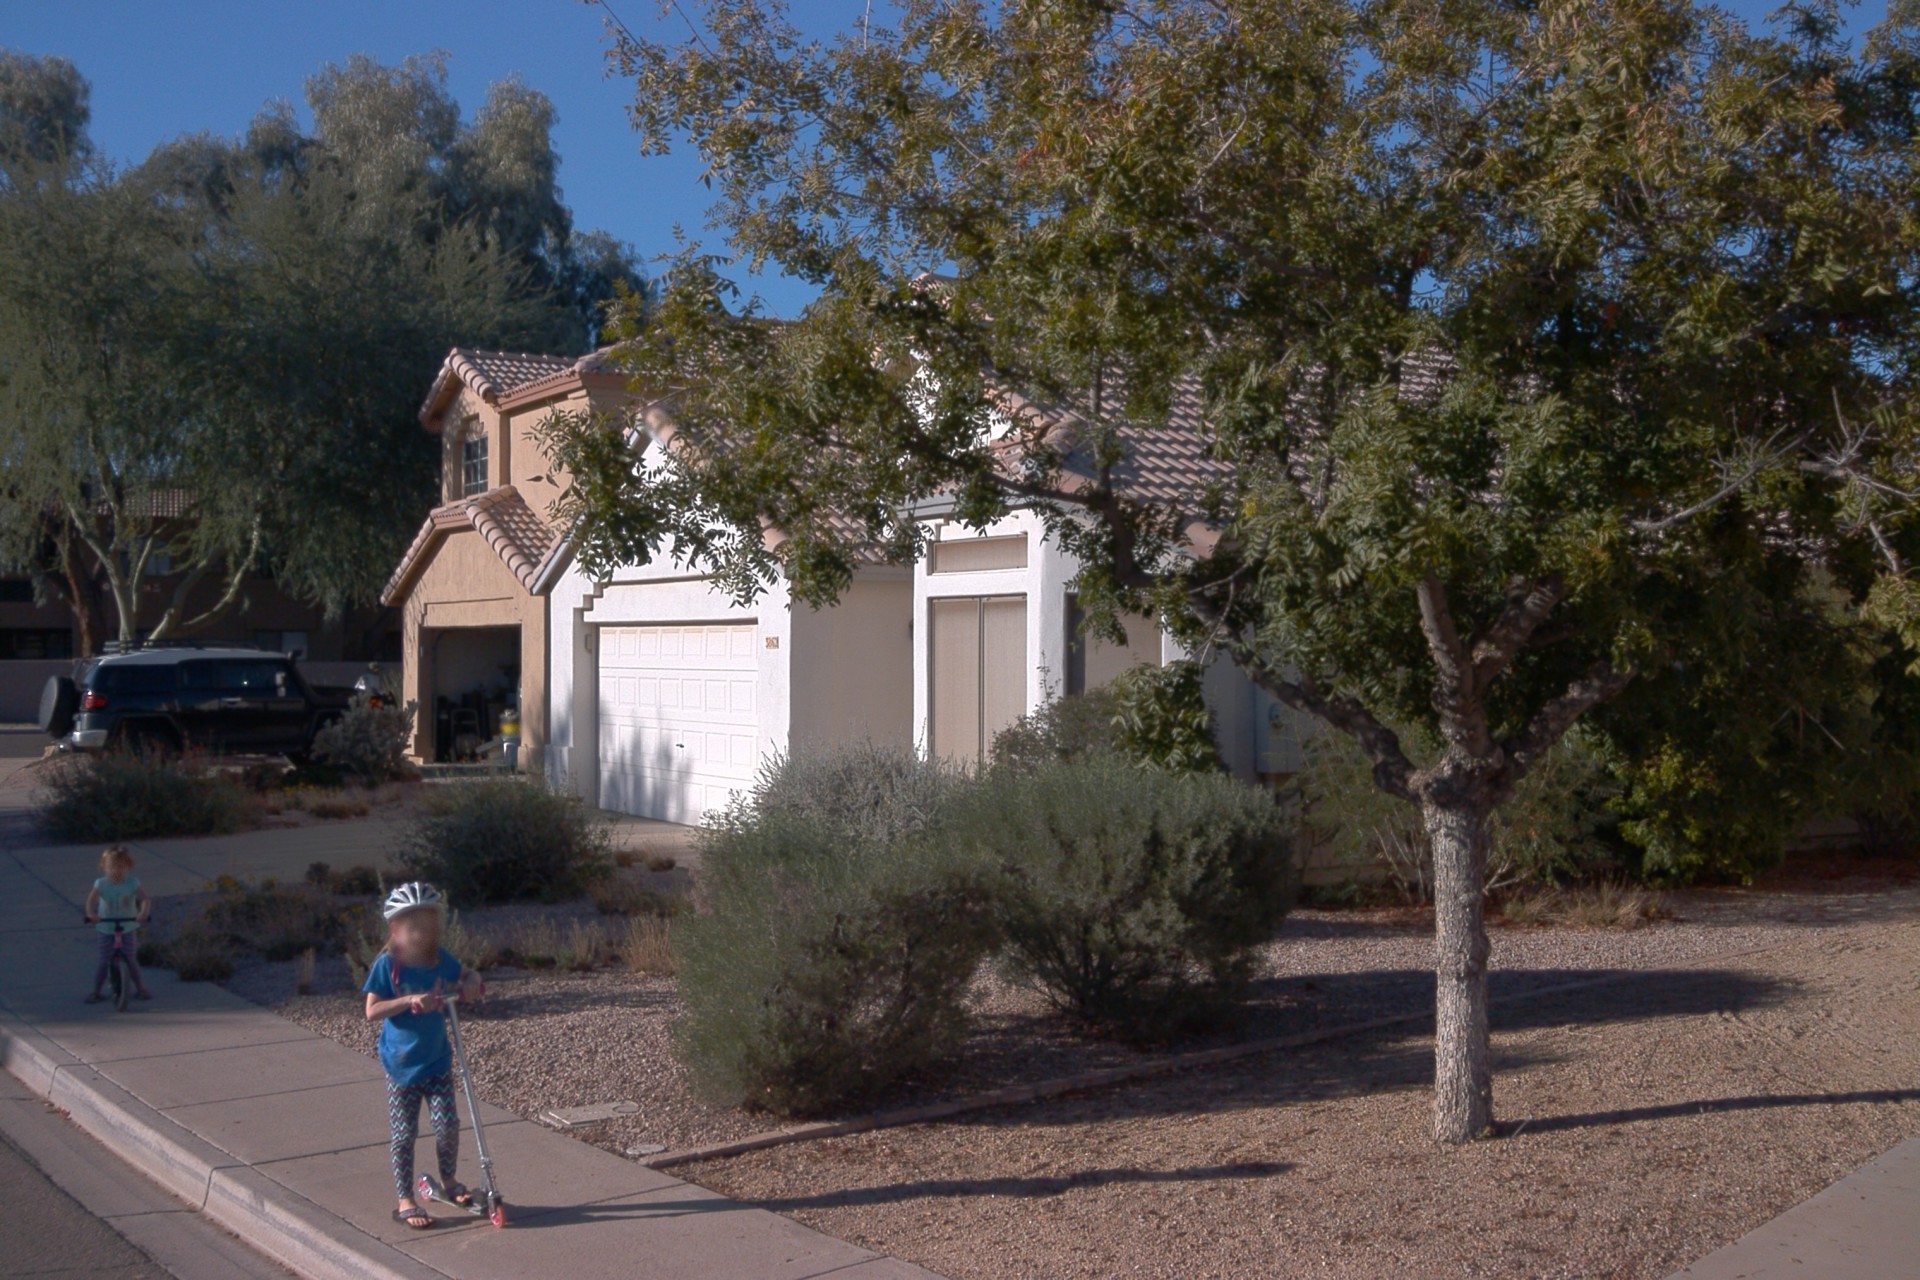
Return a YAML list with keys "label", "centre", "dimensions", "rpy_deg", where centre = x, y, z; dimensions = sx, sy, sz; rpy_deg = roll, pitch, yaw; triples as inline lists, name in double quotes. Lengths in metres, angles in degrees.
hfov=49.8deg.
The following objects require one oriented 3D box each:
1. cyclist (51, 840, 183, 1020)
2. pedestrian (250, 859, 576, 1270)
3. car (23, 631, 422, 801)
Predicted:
- label: "cyclist"
  centre: [-4.777, 1.618, 11.708]
  dimensions: [0.527, 0.890, 0.831]
  rpy_deg: [1, -1, -33]
- label: "pedestrian"
  centre: [-1.969, 1.458, 7.393]
  dimensions: [1.177, 1.230, 0.538]
  rpy_deg: [0, -1, 41]
- label: "car"
  centre: [-10.424, 1.049, 29.371]
  dimensions: [4.985, 2.240, 2.025]
  rpy_deg: [1, -1, -31]
